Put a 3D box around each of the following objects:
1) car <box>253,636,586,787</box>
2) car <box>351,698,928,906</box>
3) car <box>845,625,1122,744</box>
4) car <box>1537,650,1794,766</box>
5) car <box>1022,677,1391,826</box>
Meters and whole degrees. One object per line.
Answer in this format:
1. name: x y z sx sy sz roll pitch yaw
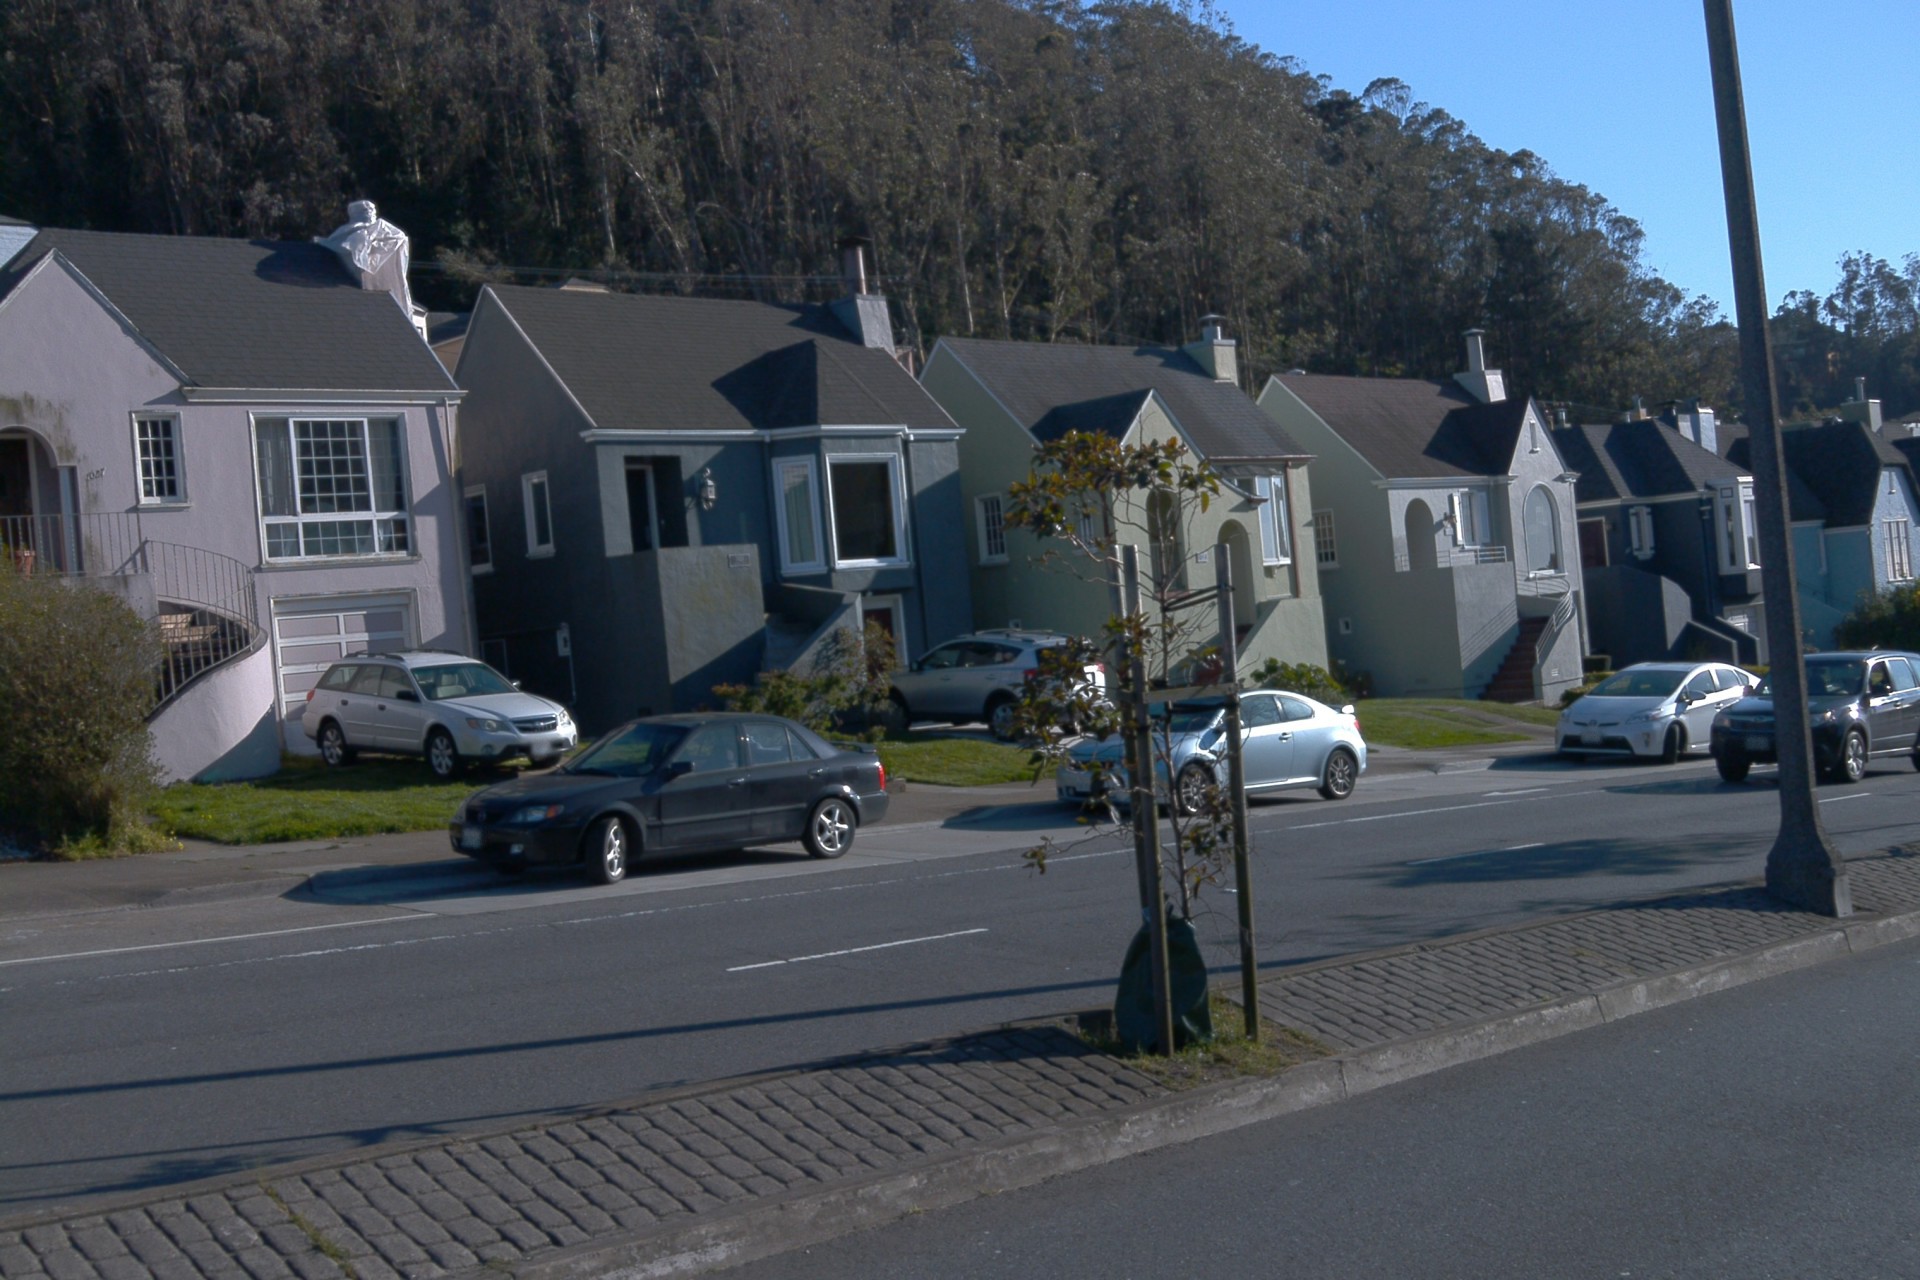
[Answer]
1. car: -7.297 0.883 27.723 4.809 1.830 1.958 0 0 42
2. car: -2.839 1.377 19.256 2.201 1.500 4.956 0 0 44
3. car: 0.330 0.680 33.993 4.443 1.830 1.922 0 0 45
4. car: 11.057 1.003 32.331 4.503 1.630 1.896 -1 0 -43
5. car: 2.996 1.241 24.567 4.503 1.490 1.896 -1 0 -44
